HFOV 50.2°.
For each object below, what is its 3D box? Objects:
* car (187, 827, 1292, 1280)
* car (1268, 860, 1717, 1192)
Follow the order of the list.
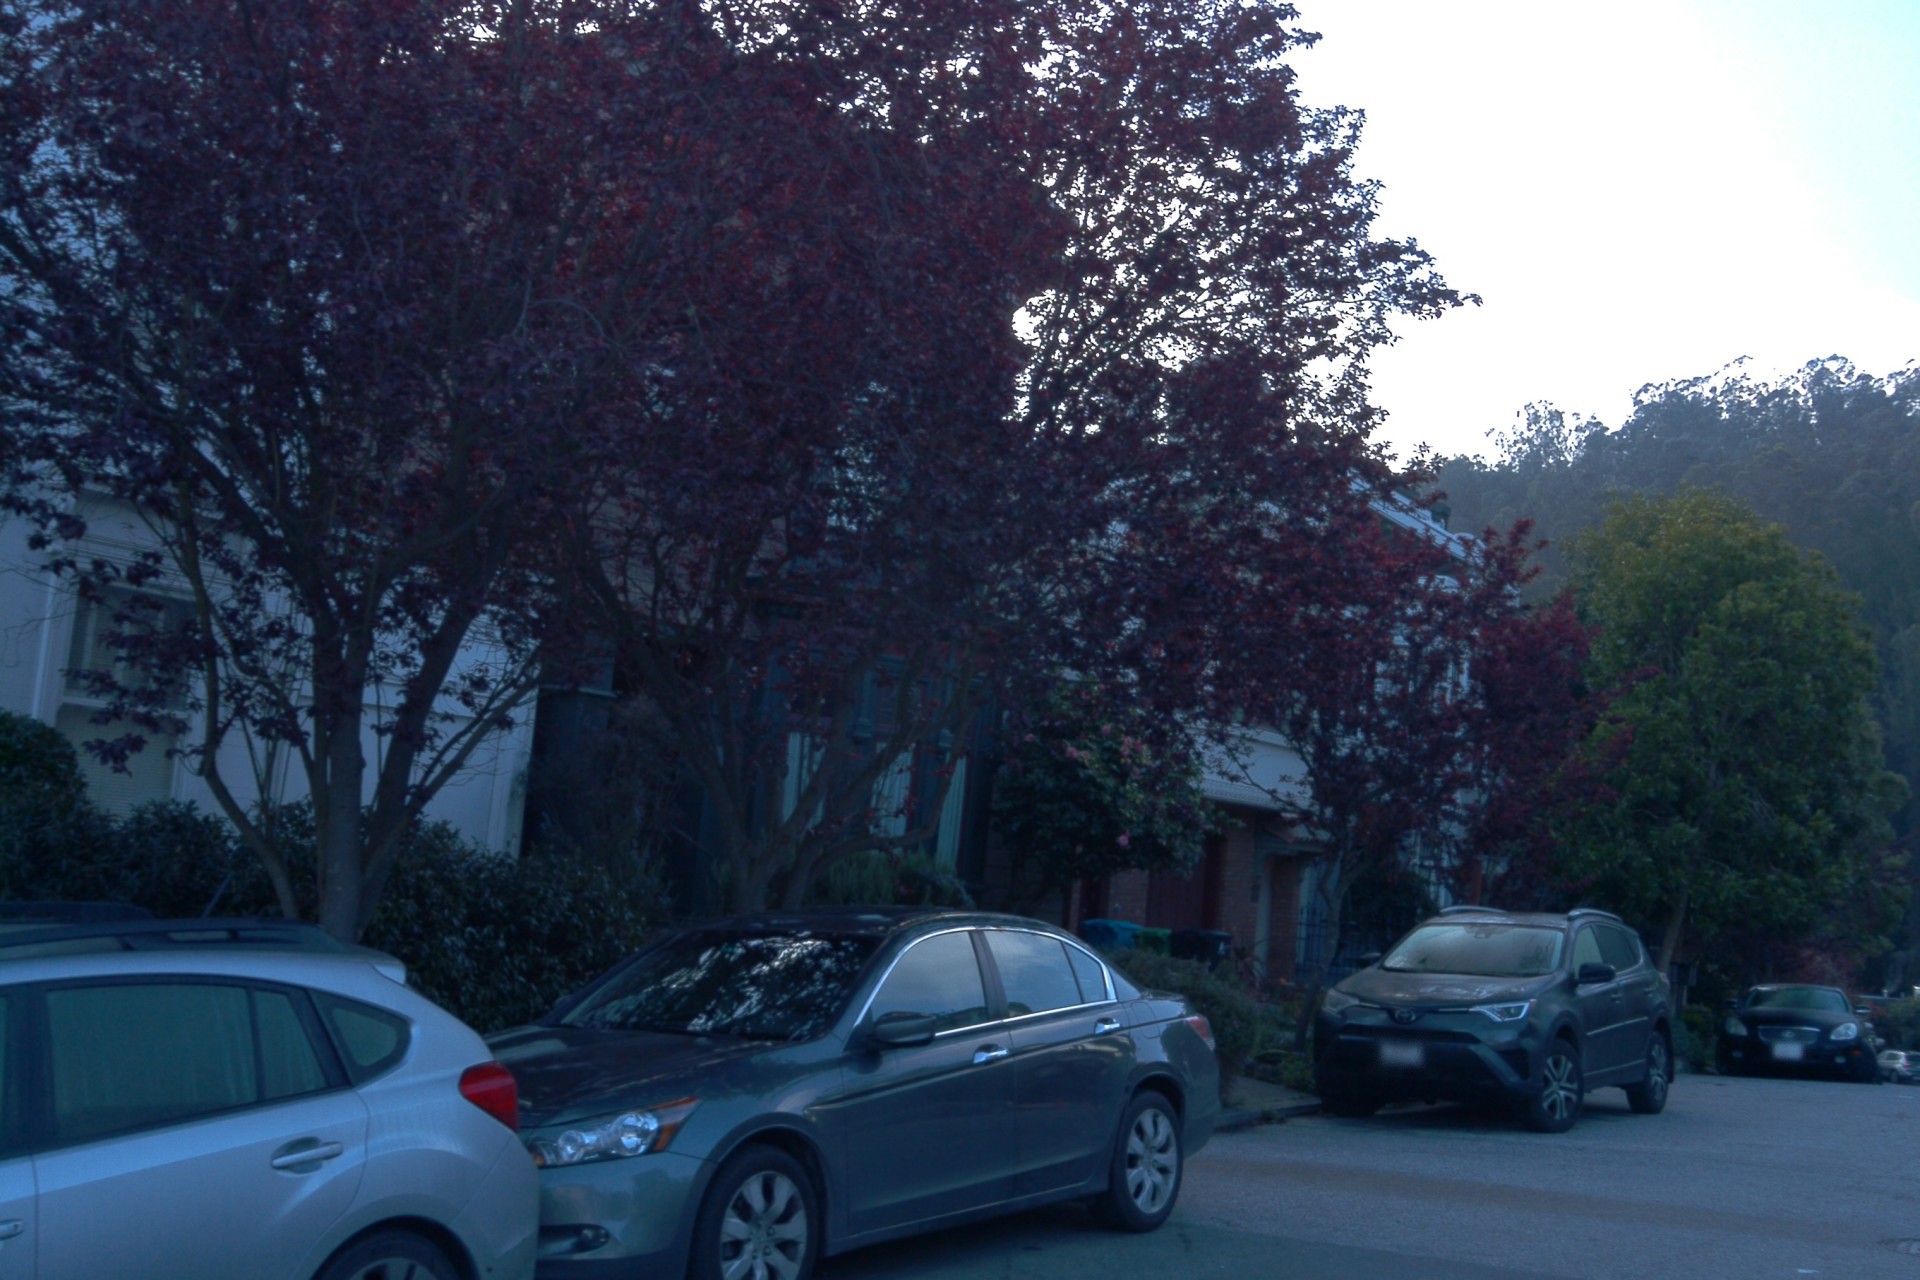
[{"bbox_3d":[-0.572,1.848,8.806,2.084,1.563,4.821,1,1,34],"label":"car"},{"bbox_3d":[4.437,2.917,16.553,2.085,1.708,4.540,1,1,34],"label":"car"}]
